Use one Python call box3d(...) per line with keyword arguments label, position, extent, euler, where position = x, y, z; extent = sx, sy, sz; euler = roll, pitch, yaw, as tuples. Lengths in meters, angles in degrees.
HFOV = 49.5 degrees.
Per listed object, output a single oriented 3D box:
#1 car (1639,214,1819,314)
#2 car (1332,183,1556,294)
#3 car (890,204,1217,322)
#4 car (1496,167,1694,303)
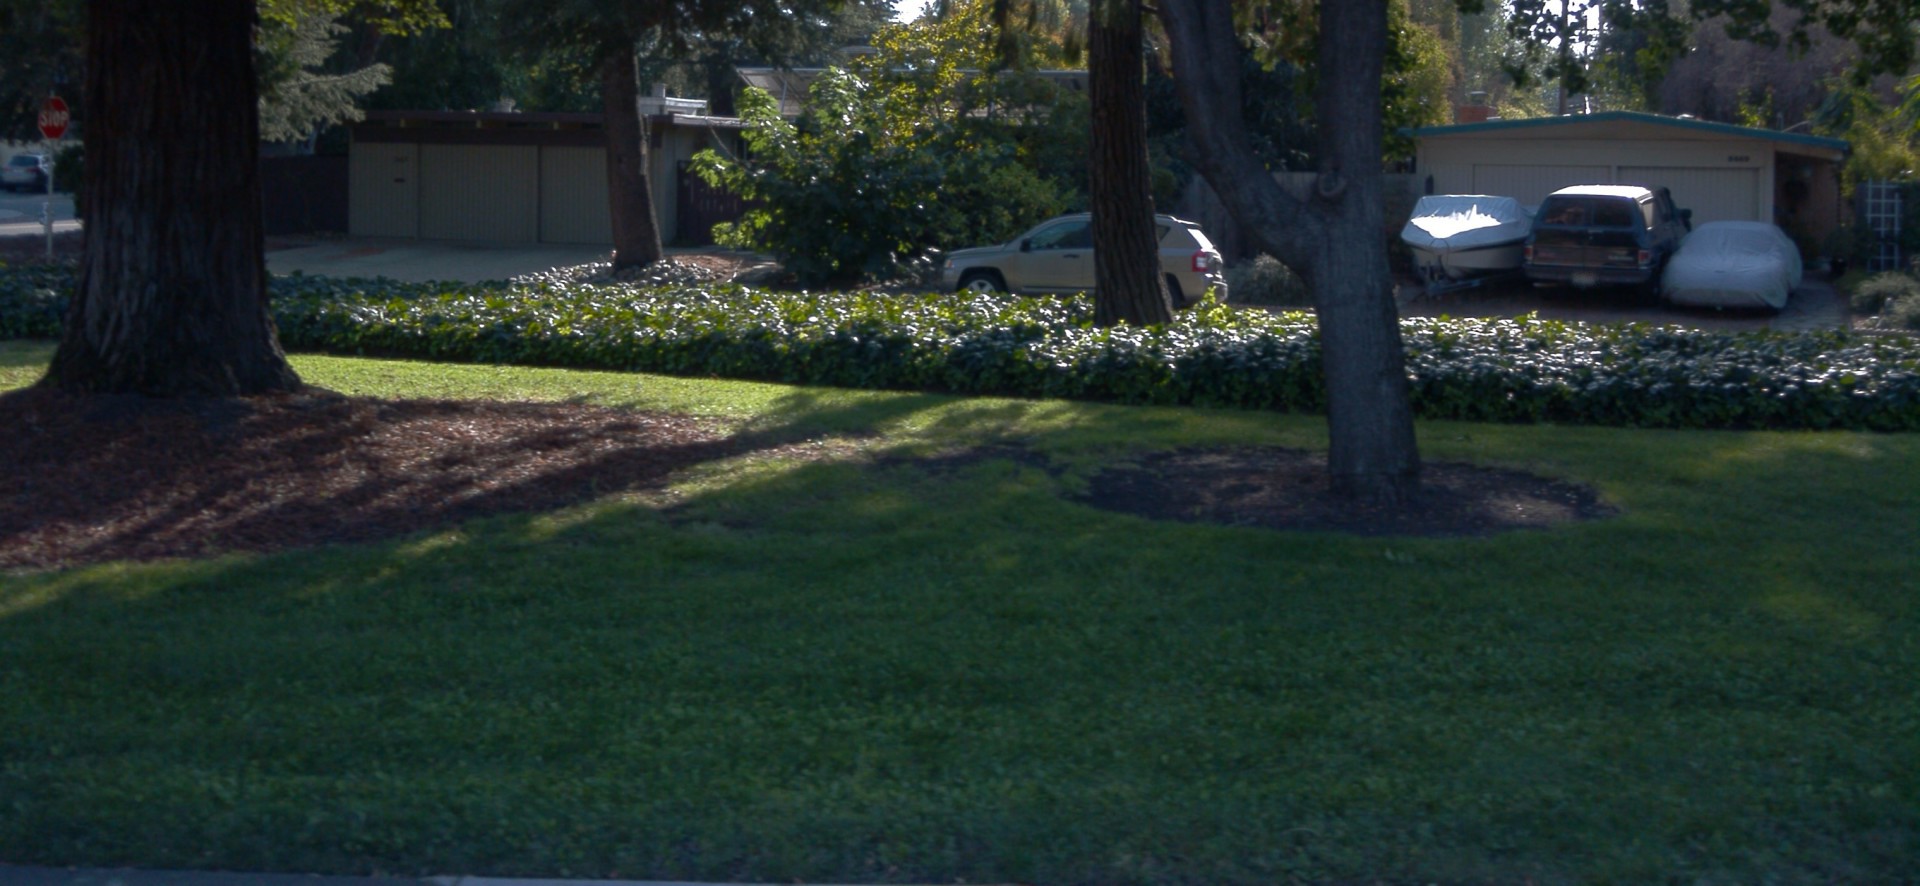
box3d(label="car", position=(12.667, -2.943, 34.131), extent=(2.131, 1.495, 4.978), euler=(2, 5, 27))
box3d(label="car", position=(8.338, -3.460, 35.396), extent=(2.284, 1.714, 5.973), euler=(2, 5, 27))
box3d(label="car", position=(1.417, -2.683, 30.815), extent=(4.468, 1.638, 2.009), euler=(2, 3, 14))
box3d(label="car", position=(10.820, -3.489, 35.223), extent=(2.210, 2.104, 5.518), euler=(2, 5, 27))
